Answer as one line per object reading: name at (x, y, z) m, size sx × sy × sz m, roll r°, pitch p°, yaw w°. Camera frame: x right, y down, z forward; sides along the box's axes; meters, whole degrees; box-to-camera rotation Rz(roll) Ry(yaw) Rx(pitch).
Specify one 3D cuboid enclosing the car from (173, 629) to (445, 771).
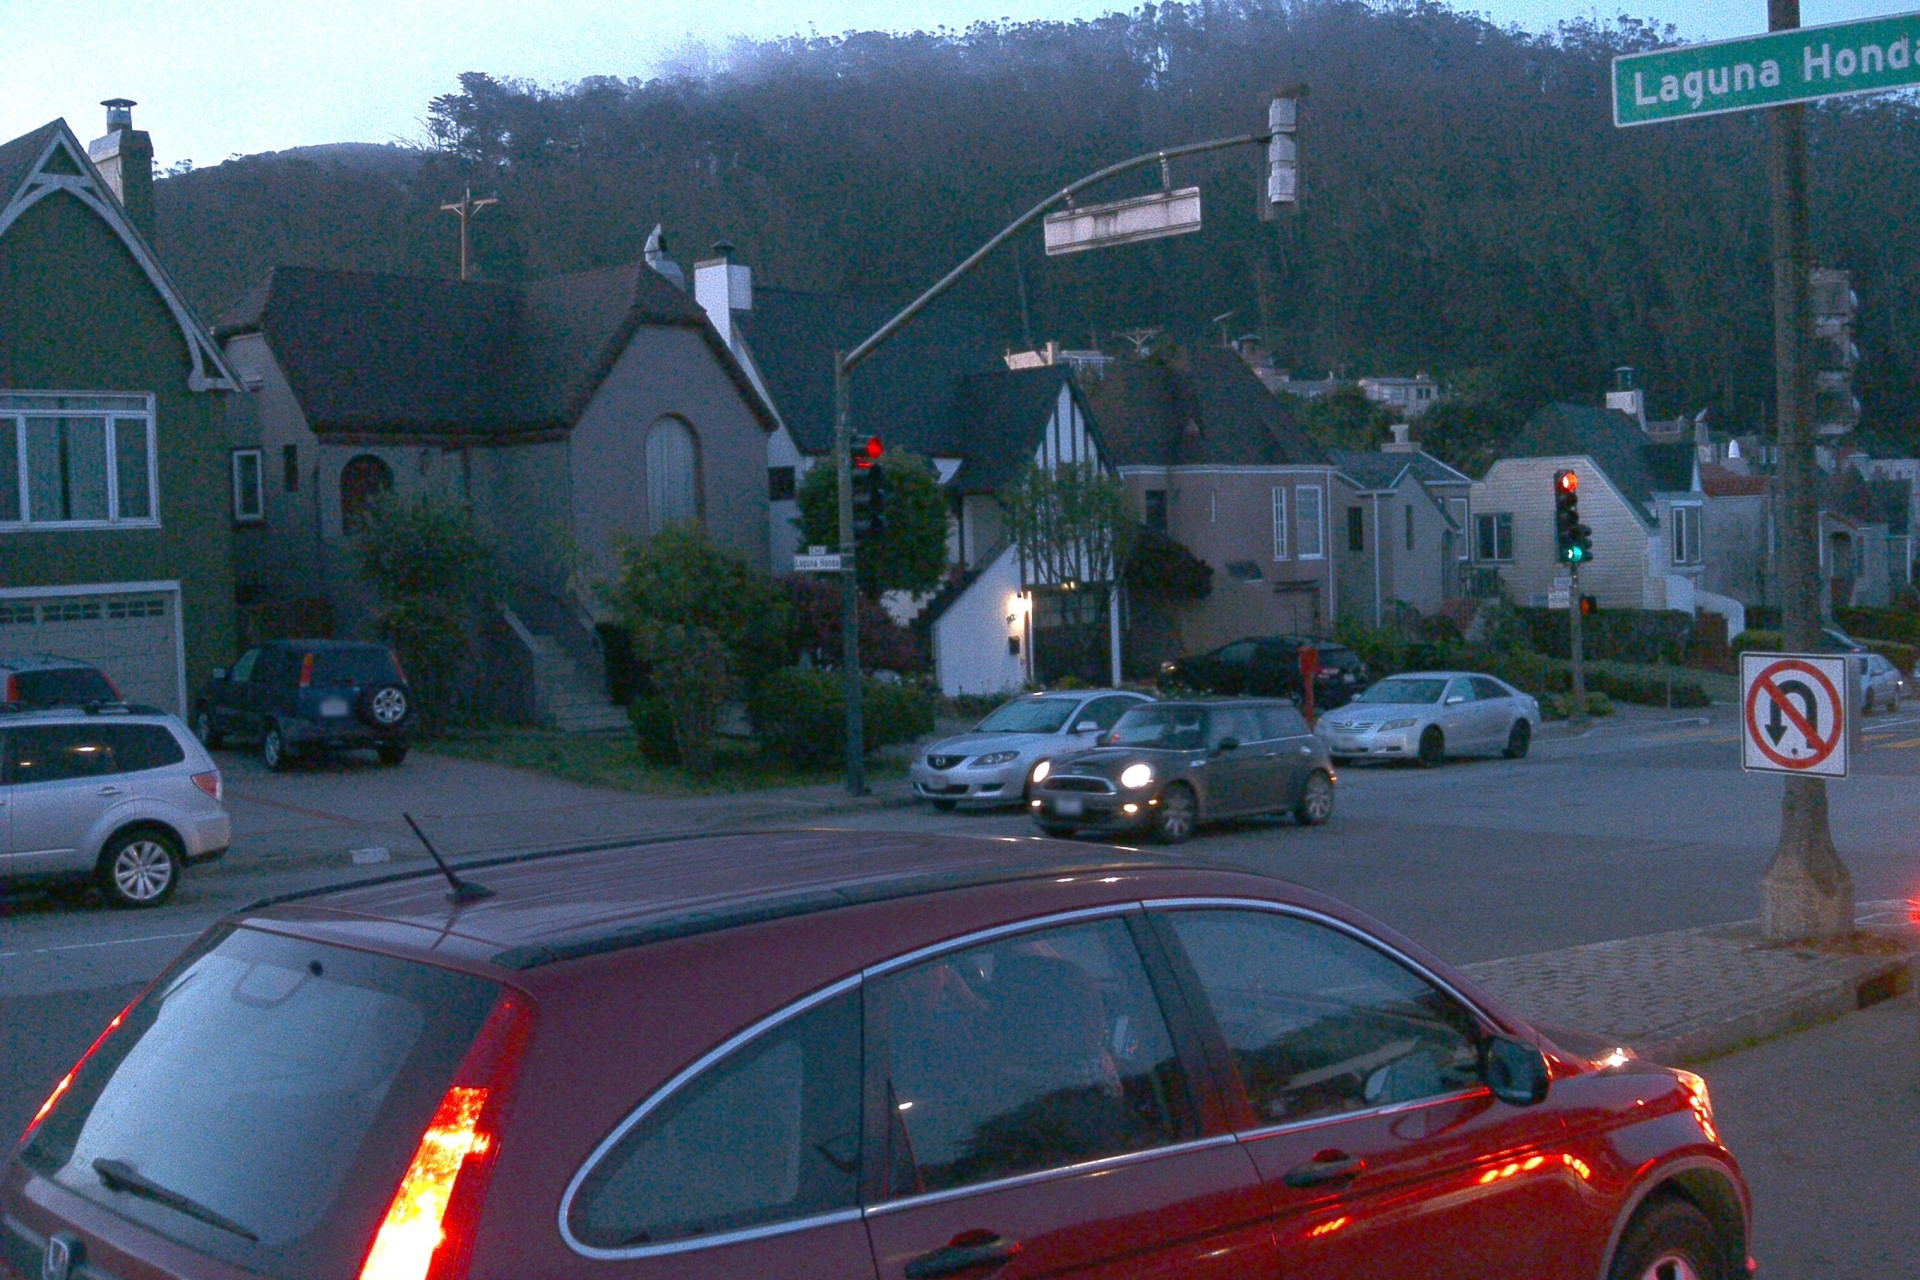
car at (-8.841, 0.745, 27.939) m, size 2.020 × 1.750 × 4.316 m, roll 0°, pitch 0°, yaw -39°

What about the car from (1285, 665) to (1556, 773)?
car at (7.475, 1.203, 33.345) m, size 2.119 × 1.530 × 4.797 m, roll 0°, pitch 0°, yaw 43°

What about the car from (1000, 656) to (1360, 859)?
car at (2.380, 1.137, 21.804) m, size 1.799 × 1.890 × 3.810 m, roll 0°, pitch 0°, yaw 44°

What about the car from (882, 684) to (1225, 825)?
car at (1.253, 1.352, 25.938) m, size 1.901 × 1.490 × 4.437 m, roll 0°, pitch 0°, yaw 42°
